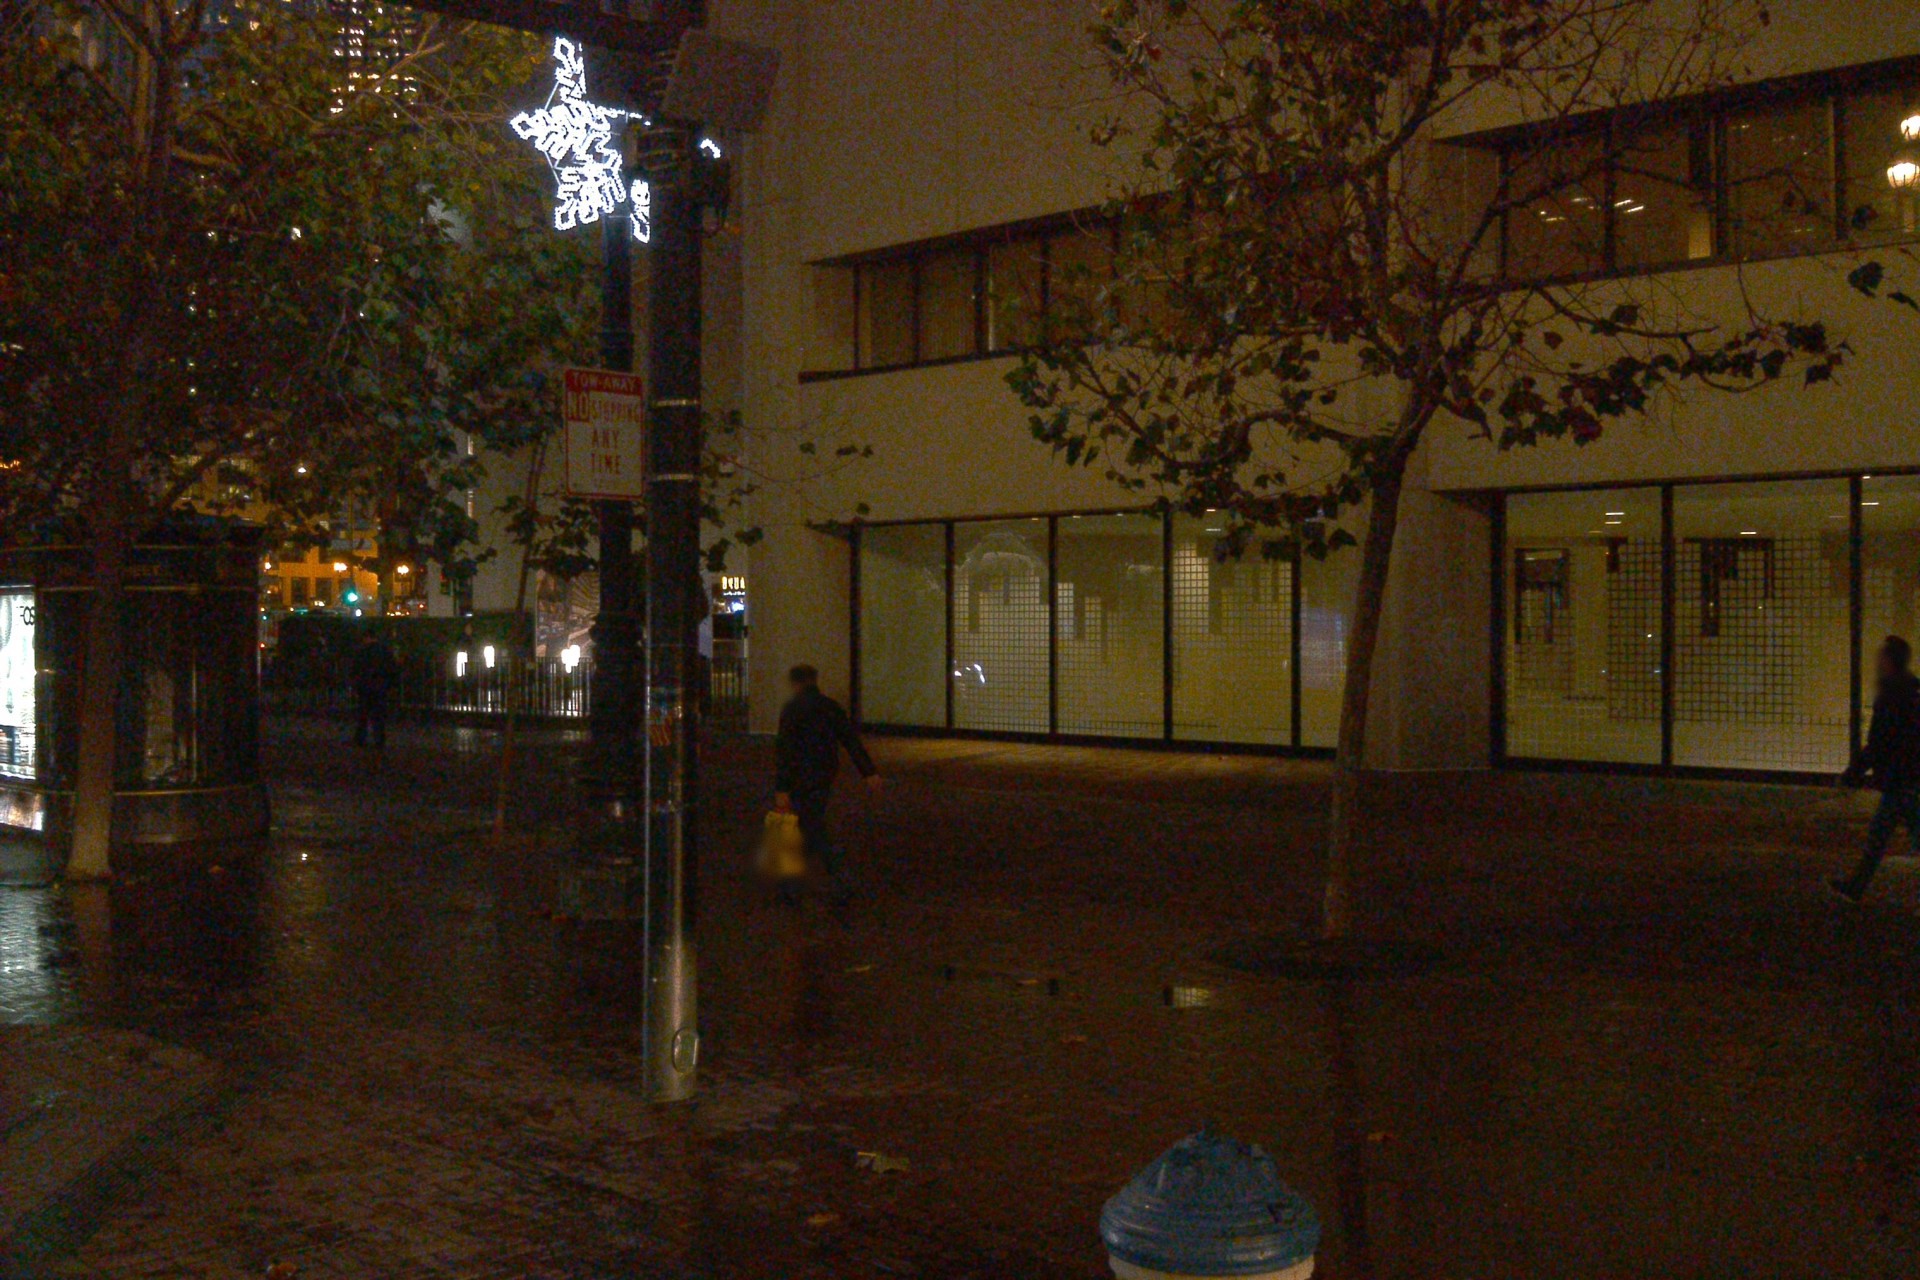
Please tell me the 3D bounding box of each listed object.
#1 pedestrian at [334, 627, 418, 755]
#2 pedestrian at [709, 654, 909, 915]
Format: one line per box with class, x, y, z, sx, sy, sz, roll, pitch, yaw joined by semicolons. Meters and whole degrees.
pedestrian;-8.330;0.707;29.211;0.860;1.780;1.103;1;0;-32
pedestrian;-1.069;0.972;14.438;0.941;1.740;1.066;1;0;-40
